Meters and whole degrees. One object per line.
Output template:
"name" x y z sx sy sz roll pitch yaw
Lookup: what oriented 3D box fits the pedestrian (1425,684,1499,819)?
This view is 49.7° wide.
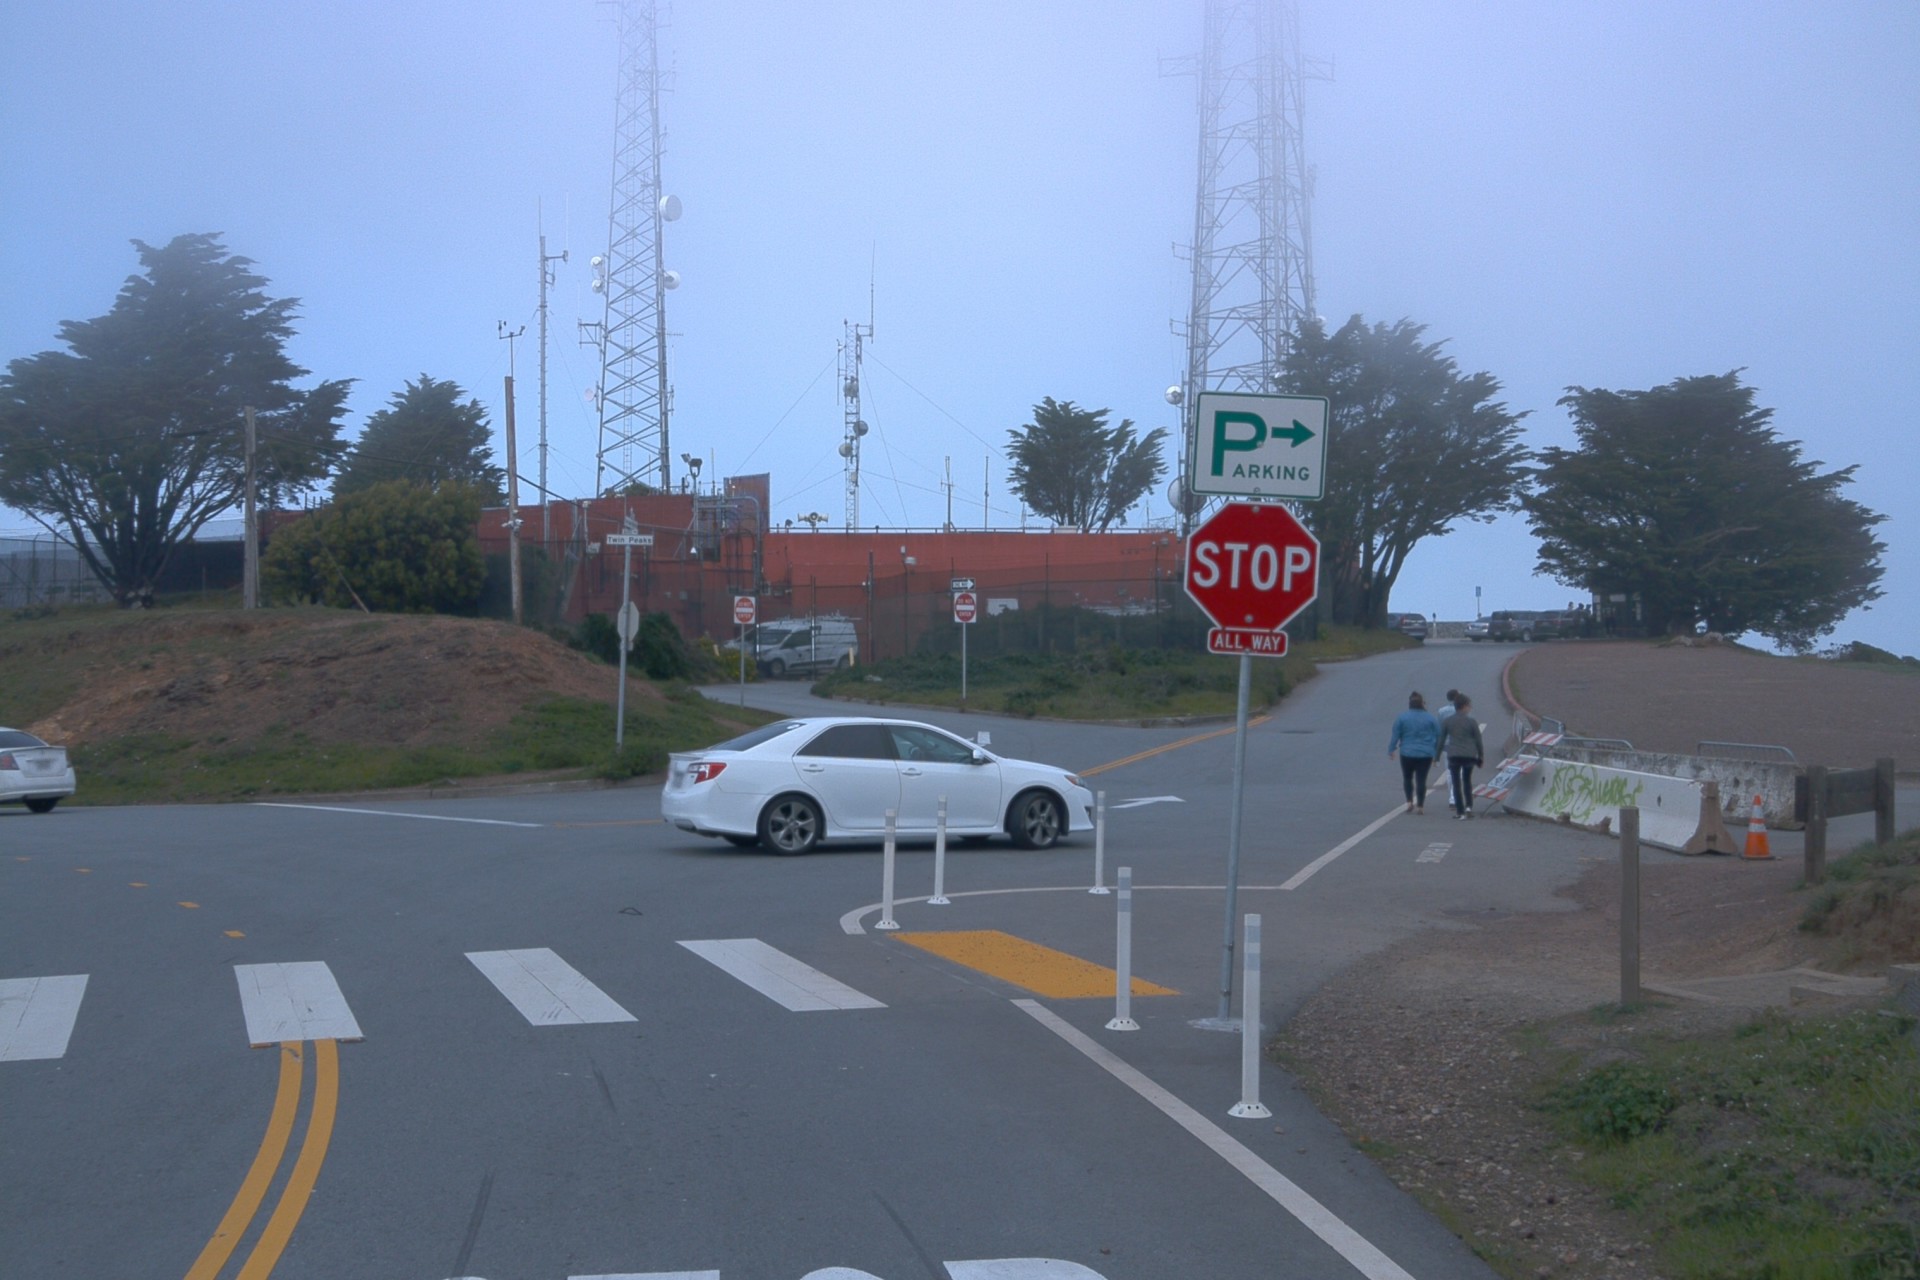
"pedestrian" 6.598 1.444 27.265 0.732 1.720 1.095 0 0 2

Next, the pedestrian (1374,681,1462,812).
"pedestrian" 6.272 1.442 28.407 1.111 1.730 1.063 0 0 9

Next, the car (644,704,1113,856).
"car" -0.912 1.469 22.793 4.694 1.440 2.174 0 0 -22
